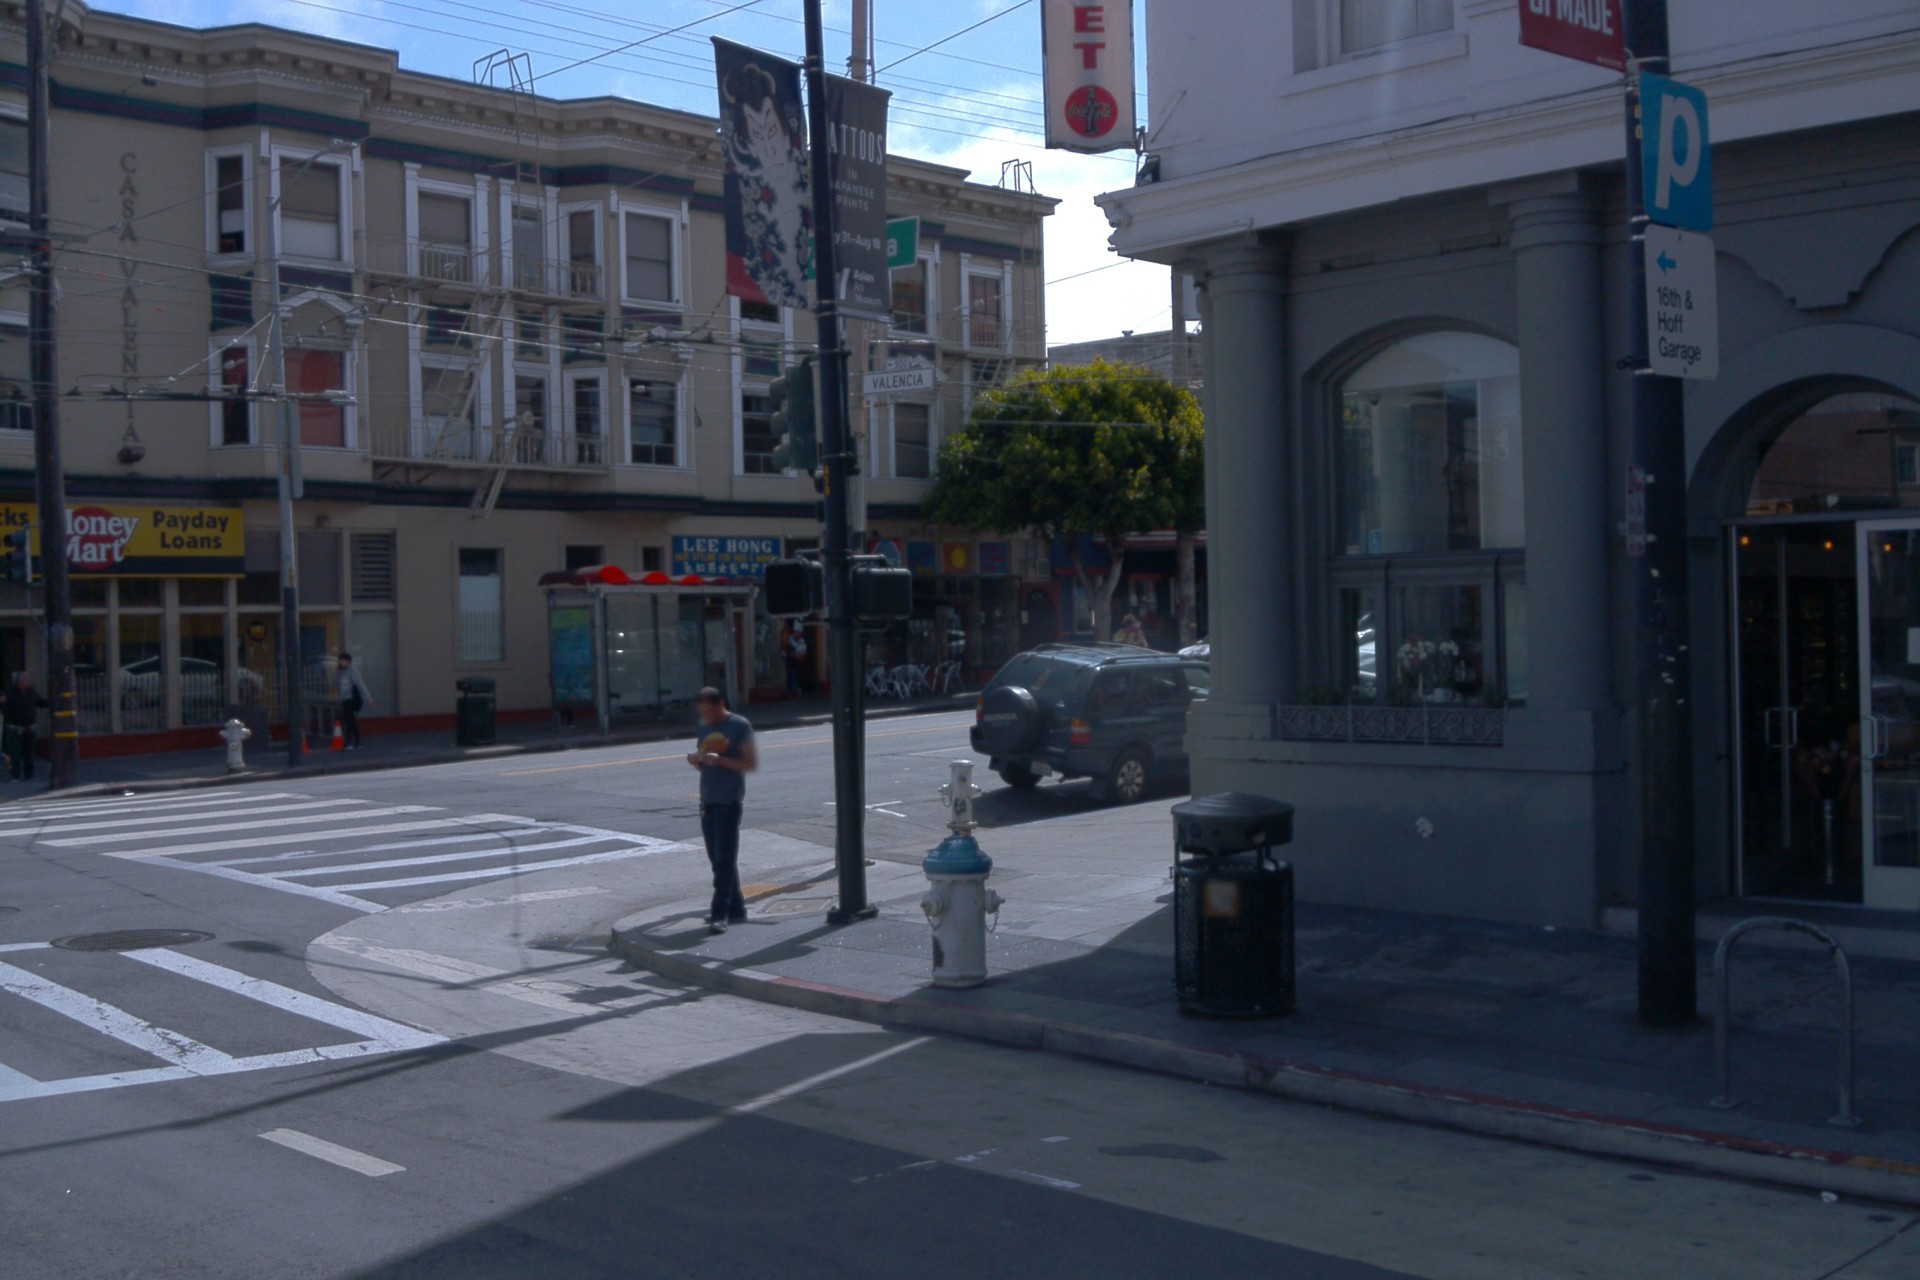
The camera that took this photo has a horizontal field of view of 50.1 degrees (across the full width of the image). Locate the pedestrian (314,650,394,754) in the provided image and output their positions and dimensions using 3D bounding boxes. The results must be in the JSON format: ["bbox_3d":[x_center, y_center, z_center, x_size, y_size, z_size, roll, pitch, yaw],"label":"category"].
[{"bbox_3d":[-10.427,1.050,35.367,0.919,1.720,0.961,0,0,41],"label":"pedestrian"}]

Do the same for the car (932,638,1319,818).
[{"bbox_3d":[2.053,0.938,24.363,2.130,1.870,4.629,0,1,44],"label":"car"}]

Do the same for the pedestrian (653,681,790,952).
[{"bbox_3d":[-1.741,1.252,14.982,0.690,1.880,0.721,0,0,-42],"label":"pedestrian"}]
